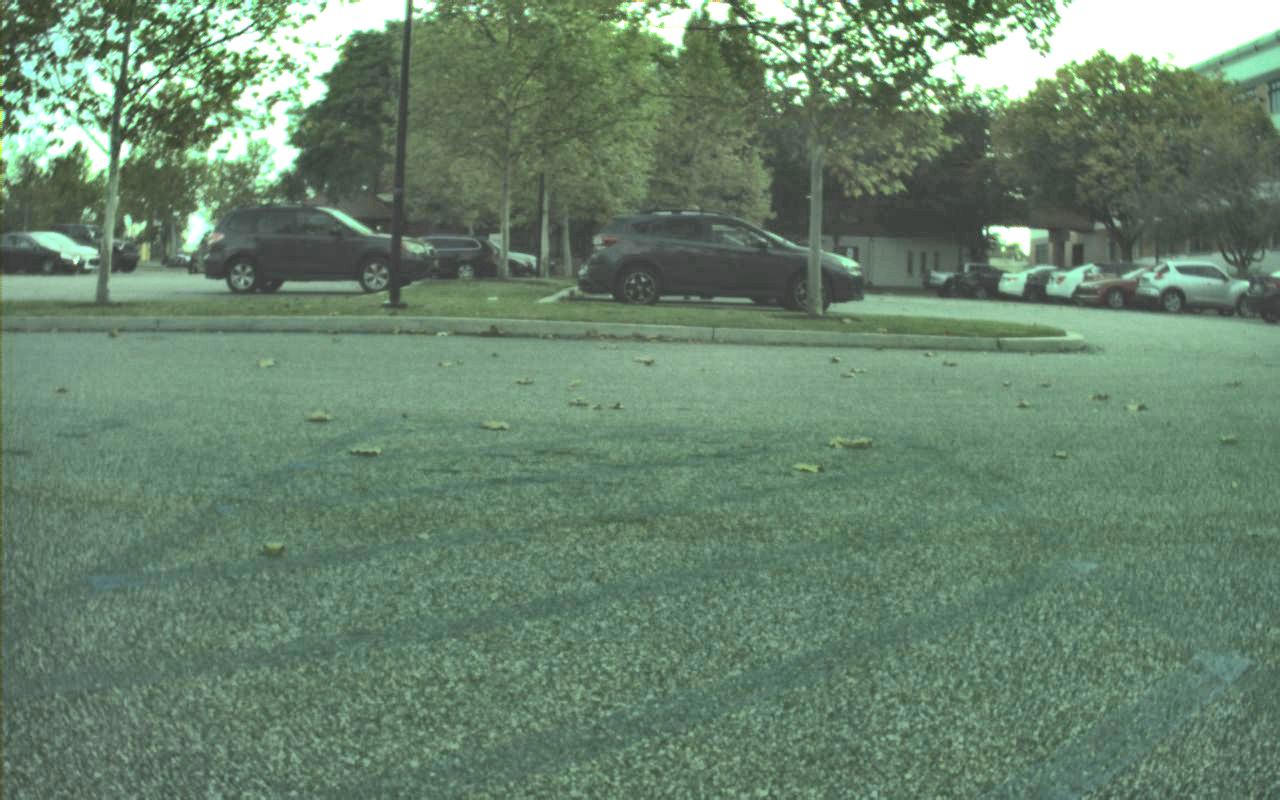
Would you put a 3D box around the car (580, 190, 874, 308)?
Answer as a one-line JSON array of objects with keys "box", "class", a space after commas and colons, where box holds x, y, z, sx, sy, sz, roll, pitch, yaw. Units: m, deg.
[{"box": [1.337, -2.400, 20.304, 4.559, 1.670, 1.956, 0, 1, -3], "class": "car"}]

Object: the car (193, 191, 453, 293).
[{"box": [-6.022, -2.942, 23.280, 4.686, 1.701, 2.009, 0, 1, 0], "class": "car"}]

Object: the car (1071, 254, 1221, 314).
[{"box": [15.515, -3.466, 36.163, 4.487, 1.623, 1.955, 1, 1, 4], "class": "car"}]

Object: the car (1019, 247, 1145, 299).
[{"box": [16.195, -4.573, 43.992, 4.409, 1.649, 1.950, 0, 1, -2], "class": "car"}]

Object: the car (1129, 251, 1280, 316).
[{"box": [16.474, -3.254, 33.458, 4.530, 1.653, 1.966, 1, 1, 4], "class": "car"}]
